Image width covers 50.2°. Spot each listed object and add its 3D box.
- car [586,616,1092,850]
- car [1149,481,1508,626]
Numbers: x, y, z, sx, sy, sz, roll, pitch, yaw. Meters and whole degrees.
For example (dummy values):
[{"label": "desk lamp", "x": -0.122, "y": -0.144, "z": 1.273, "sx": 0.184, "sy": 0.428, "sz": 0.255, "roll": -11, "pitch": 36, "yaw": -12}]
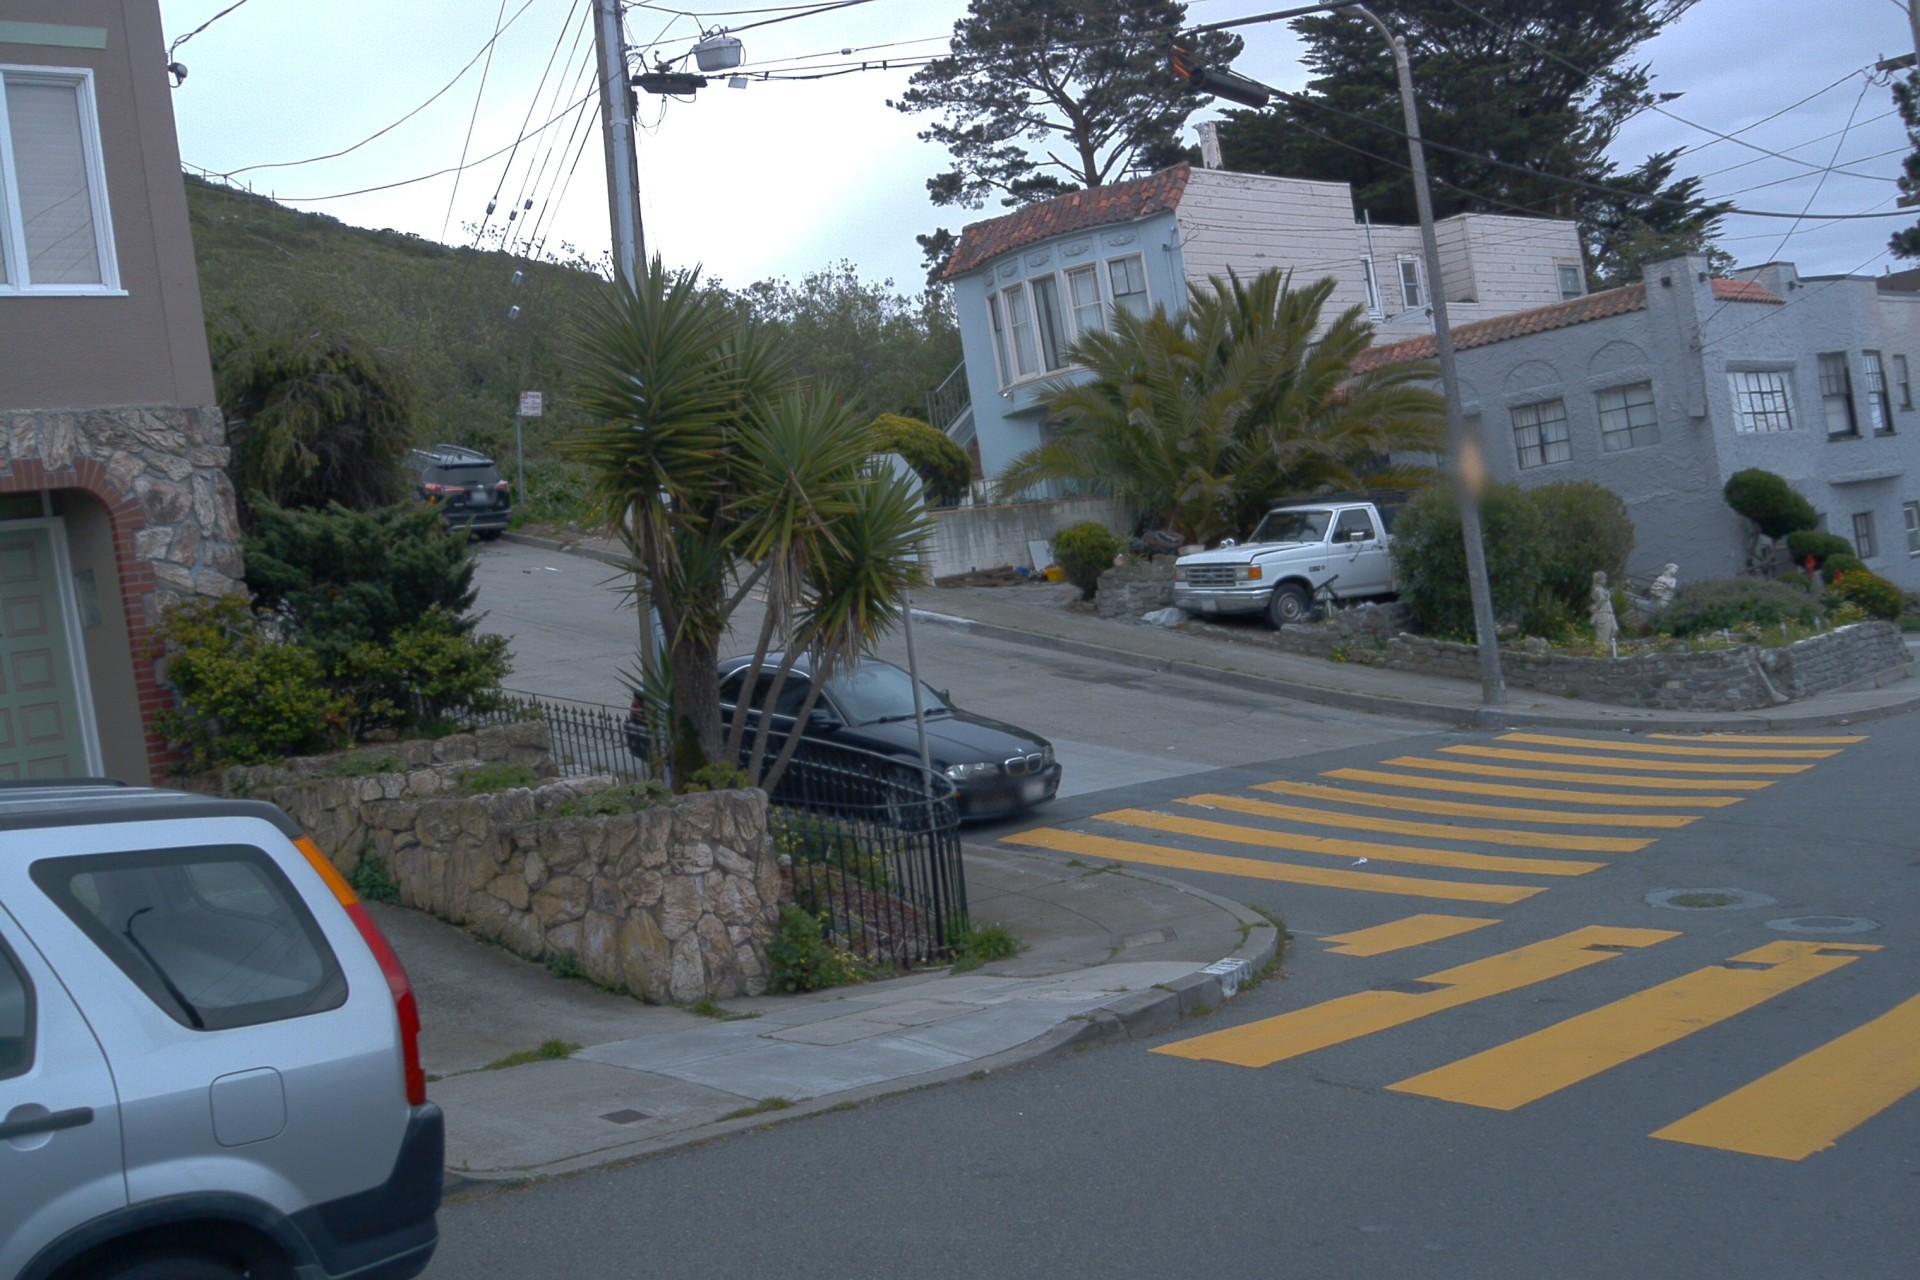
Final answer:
[{"label": "car", "x": -1.211, "y": 0.738, "z": 19.005, "sx": 4.569, "sy": 1.890, "sz": 2.007, "roll": 1, "pitch": 1, "yaw": 41}, {"label": "car", "x": 5.587, "y": -1.228, "z": 30.884, "sx": 5.126, "sy": 2.000, "sz": 2.229, "roll": 0, "pitch": 1, "yaw": -32}]
